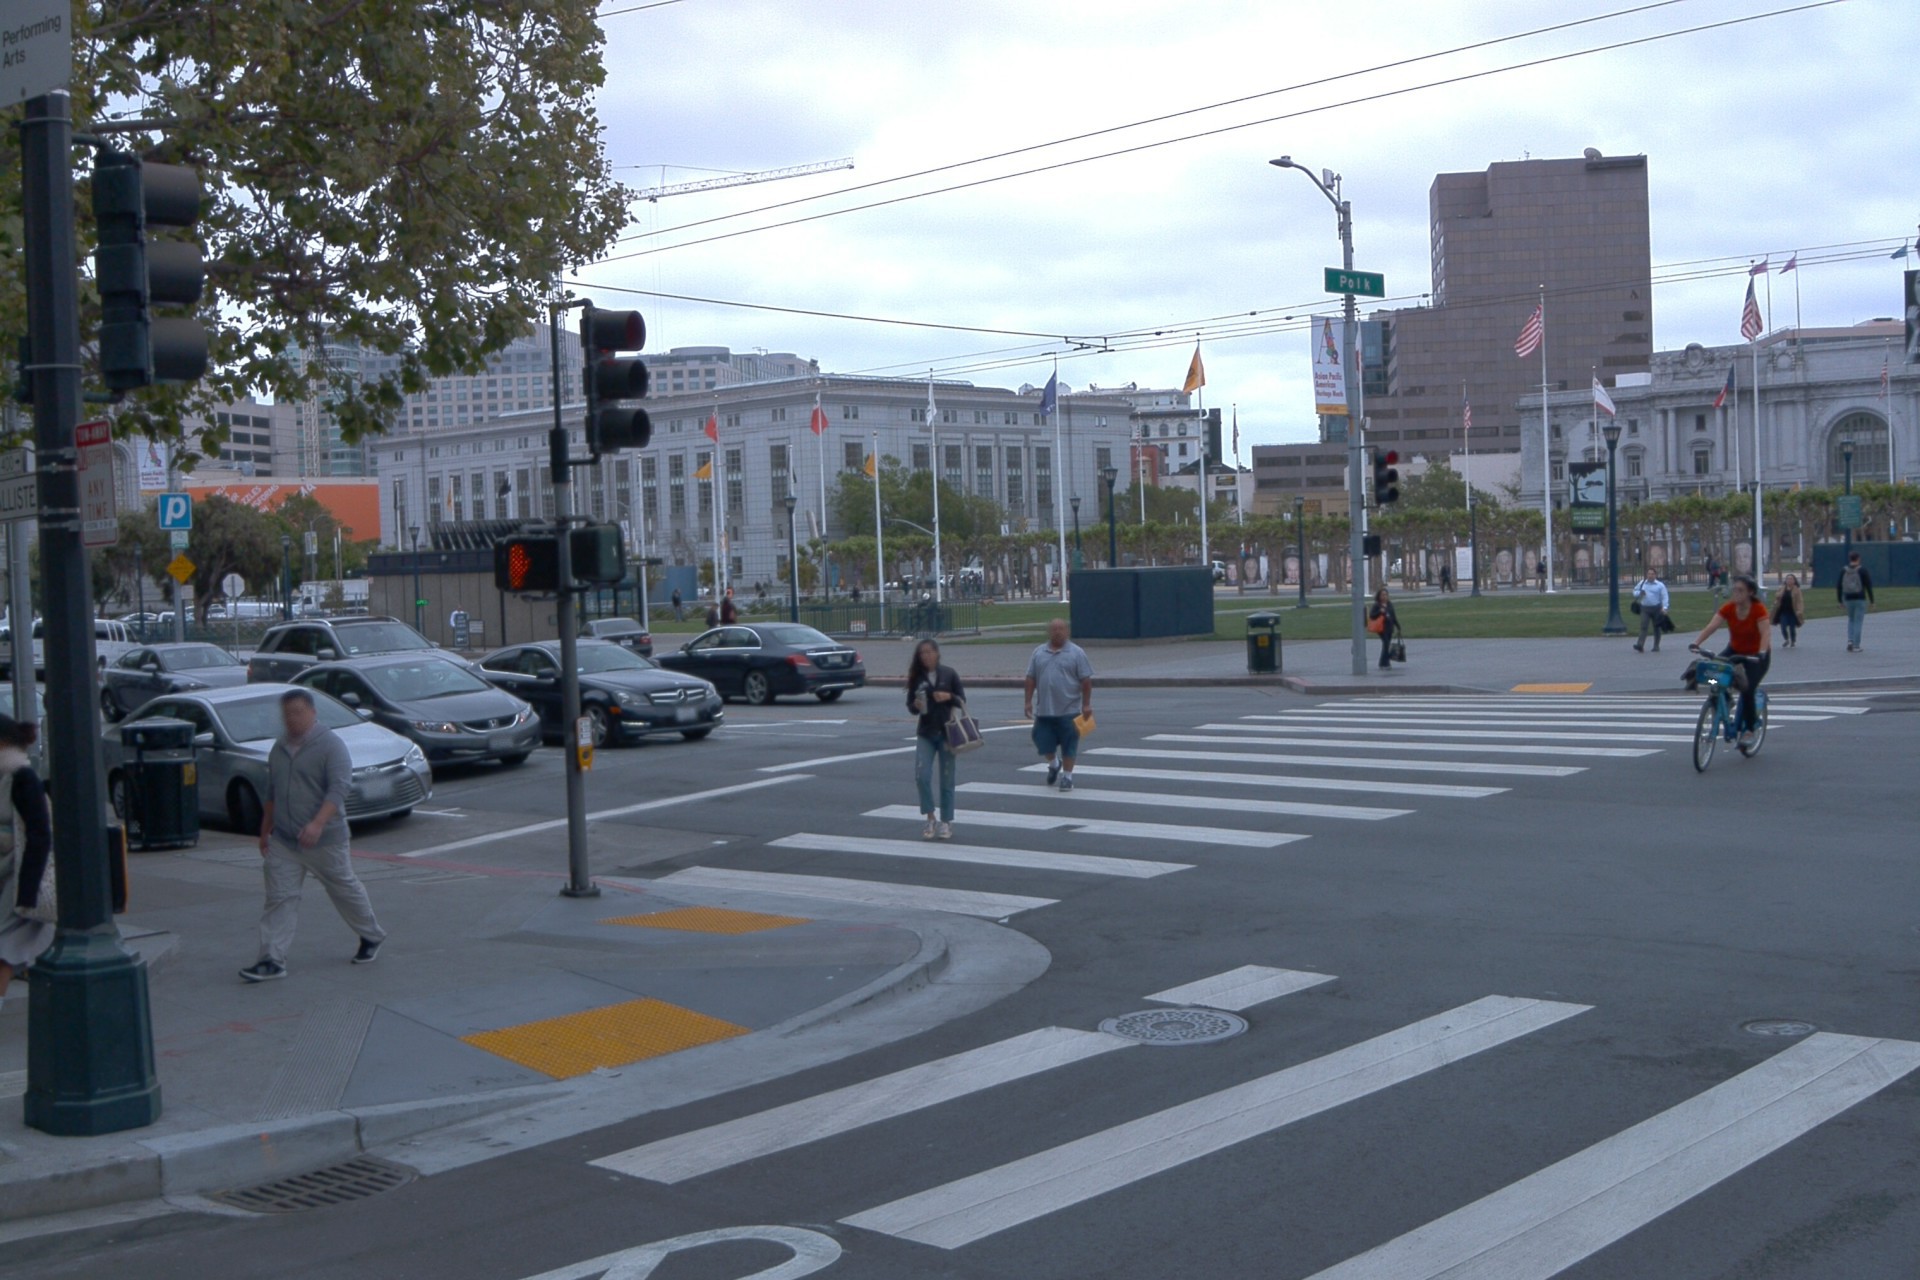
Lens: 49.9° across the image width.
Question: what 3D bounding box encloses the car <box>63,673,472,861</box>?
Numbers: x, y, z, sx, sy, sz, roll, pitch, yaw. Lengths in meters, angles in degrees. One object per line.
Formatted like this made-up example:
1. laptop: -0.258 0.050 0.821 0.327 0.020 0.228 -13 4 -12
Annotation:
1. car: -7.384 1.228 21.744 4.754 1.590 2.139 1 1 44

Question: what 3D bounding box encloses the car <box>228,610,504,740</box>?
1. car: -9.478 0.477 32.746 4.650 1.900 2.138 1 1 44

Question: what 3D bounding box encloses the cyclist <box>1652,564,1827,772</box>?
1. cyclist: 7.316 0.230 19.329 0.825 1.850 1.935 1 1 44

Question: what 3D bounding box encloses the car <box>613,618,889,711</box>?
1. car: -3.811 0.388 37.049 4.895 1.520 2.284 1 1 44

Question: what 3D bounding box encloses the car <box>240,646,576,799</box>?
1. car: -6.931 0.936 25.650 2.084 1.630 4.523 -1 1 -44

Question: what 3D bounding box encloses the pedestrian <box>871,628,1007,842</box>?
1. pedestrian: -0.165 0.770 17.392 0.910 1.724 0.993 0 1 15

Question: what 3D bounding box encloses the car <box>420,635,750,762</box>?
1. car: -5.095 0.717 27.720 4.497 1.490 2.027 1 1 42

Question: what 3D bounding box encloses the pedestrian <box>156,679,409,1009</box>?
1. pedestrian: -3.882 1.121 11.882 0.851 1.742 1.083 1 1 27

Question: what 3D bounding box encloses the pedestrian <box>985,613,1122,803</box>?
1. pedestrian: 0.916 0.625 20.009 0.994 1.764 1.162 0 1 22
